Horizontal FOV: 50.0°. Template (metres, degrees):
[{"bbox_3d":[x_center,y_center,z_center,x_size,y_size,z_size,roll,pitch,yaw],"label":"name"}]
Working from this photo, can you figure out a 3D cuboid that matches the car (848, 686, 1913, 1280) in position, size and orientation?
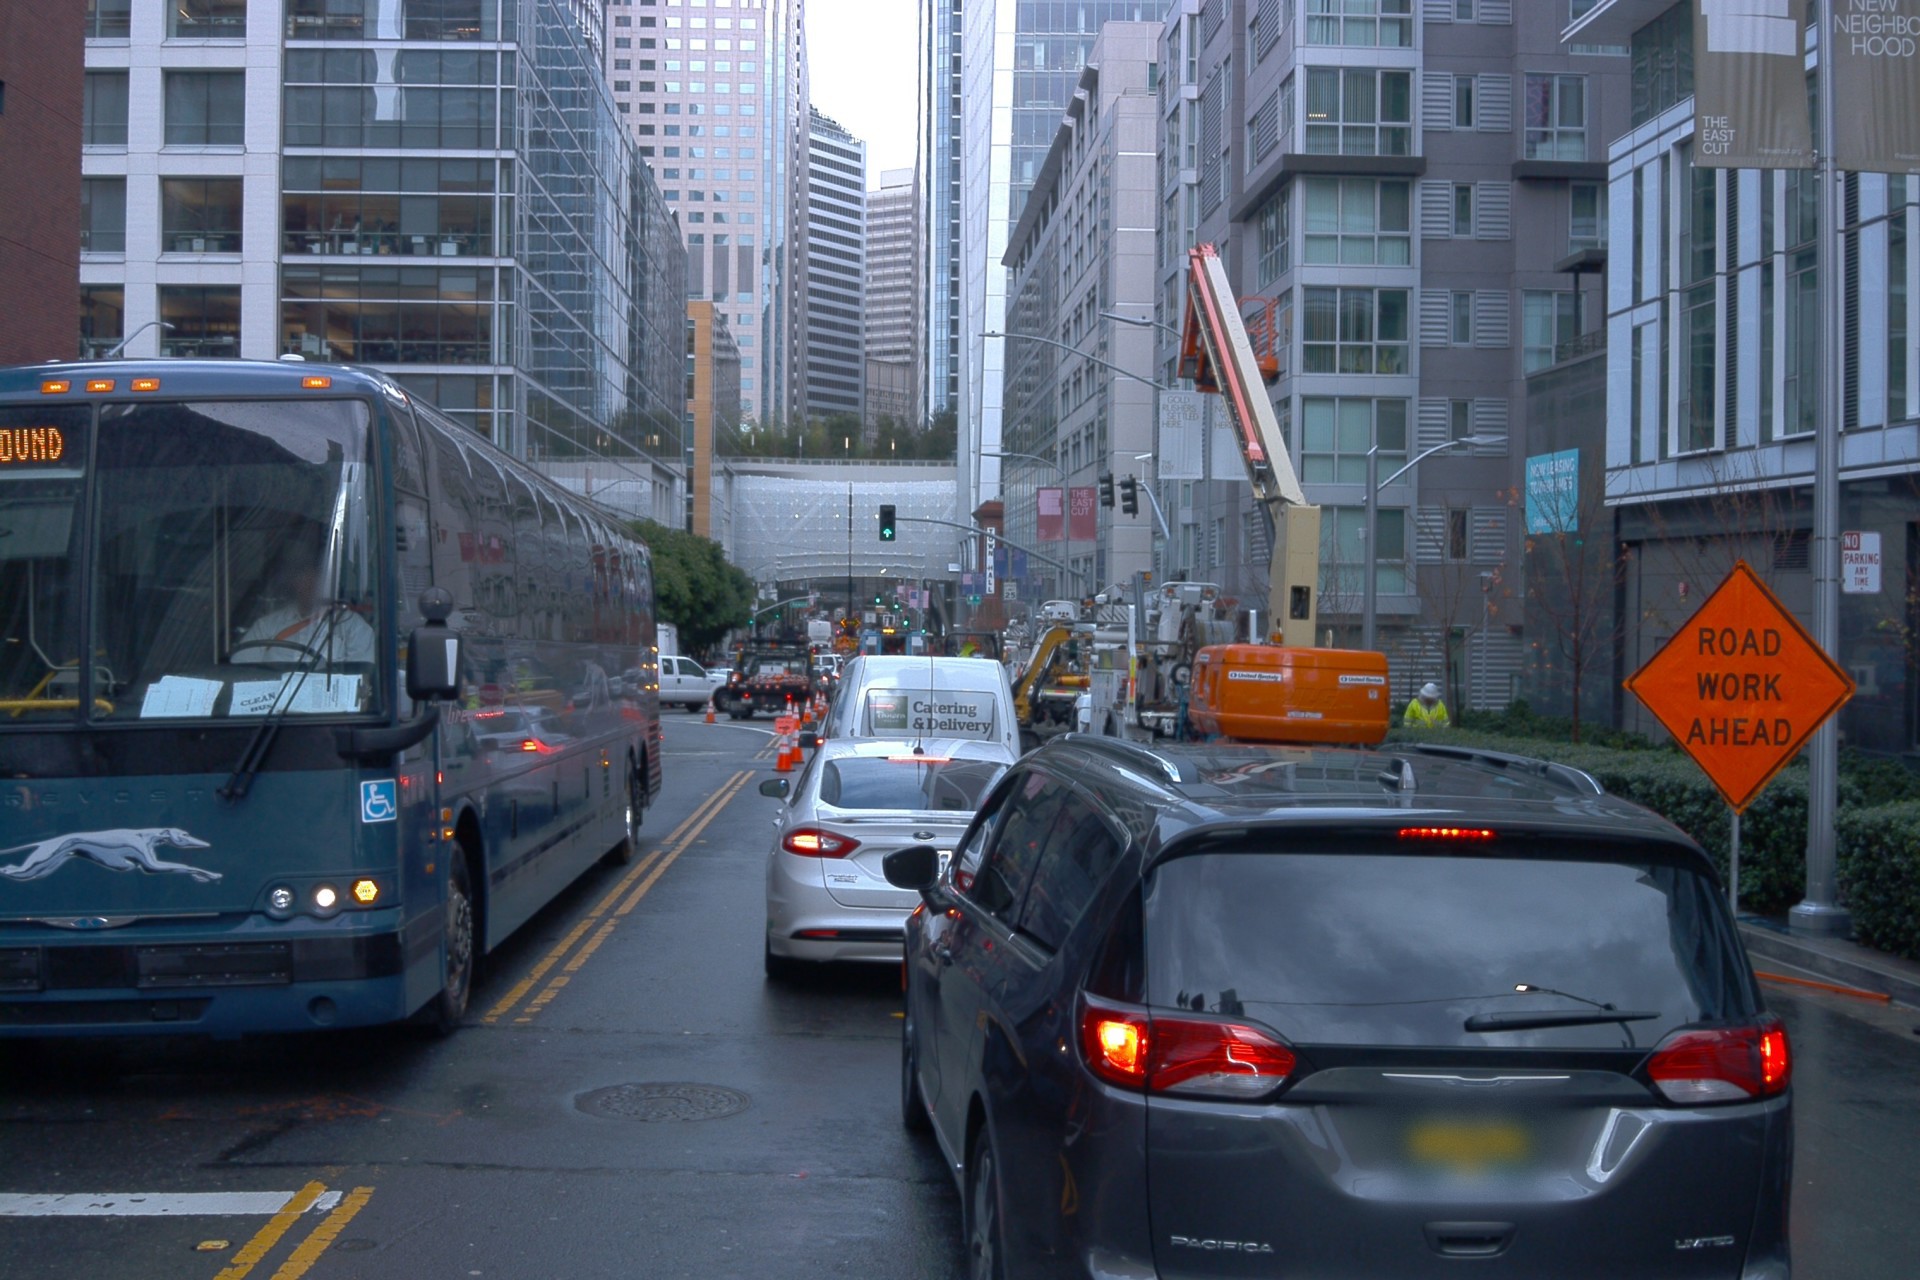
[{"bbox_3d":[0.802,1.113,6.811,2.058,1.750,4.787,1,1,-6],"label":"car"}]

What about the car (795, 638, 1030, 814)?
[{"bbox_3d":[-0.542,0.744,19.508,1.860,1.470,3.431,1,1,-7],"label":"car"}]

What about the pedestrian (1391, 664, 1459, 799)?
[{"bbox_3d":[6.845,1.337,30.364,0.822,1.949,0.618,1,0,-1],"label":"pedestrian"}]

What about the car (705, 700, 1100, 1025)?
[{"bbox_3d":[-0.378,1.301,13.826,2.164,1.580,4.901,1,1,-1],"label":"car"}]
